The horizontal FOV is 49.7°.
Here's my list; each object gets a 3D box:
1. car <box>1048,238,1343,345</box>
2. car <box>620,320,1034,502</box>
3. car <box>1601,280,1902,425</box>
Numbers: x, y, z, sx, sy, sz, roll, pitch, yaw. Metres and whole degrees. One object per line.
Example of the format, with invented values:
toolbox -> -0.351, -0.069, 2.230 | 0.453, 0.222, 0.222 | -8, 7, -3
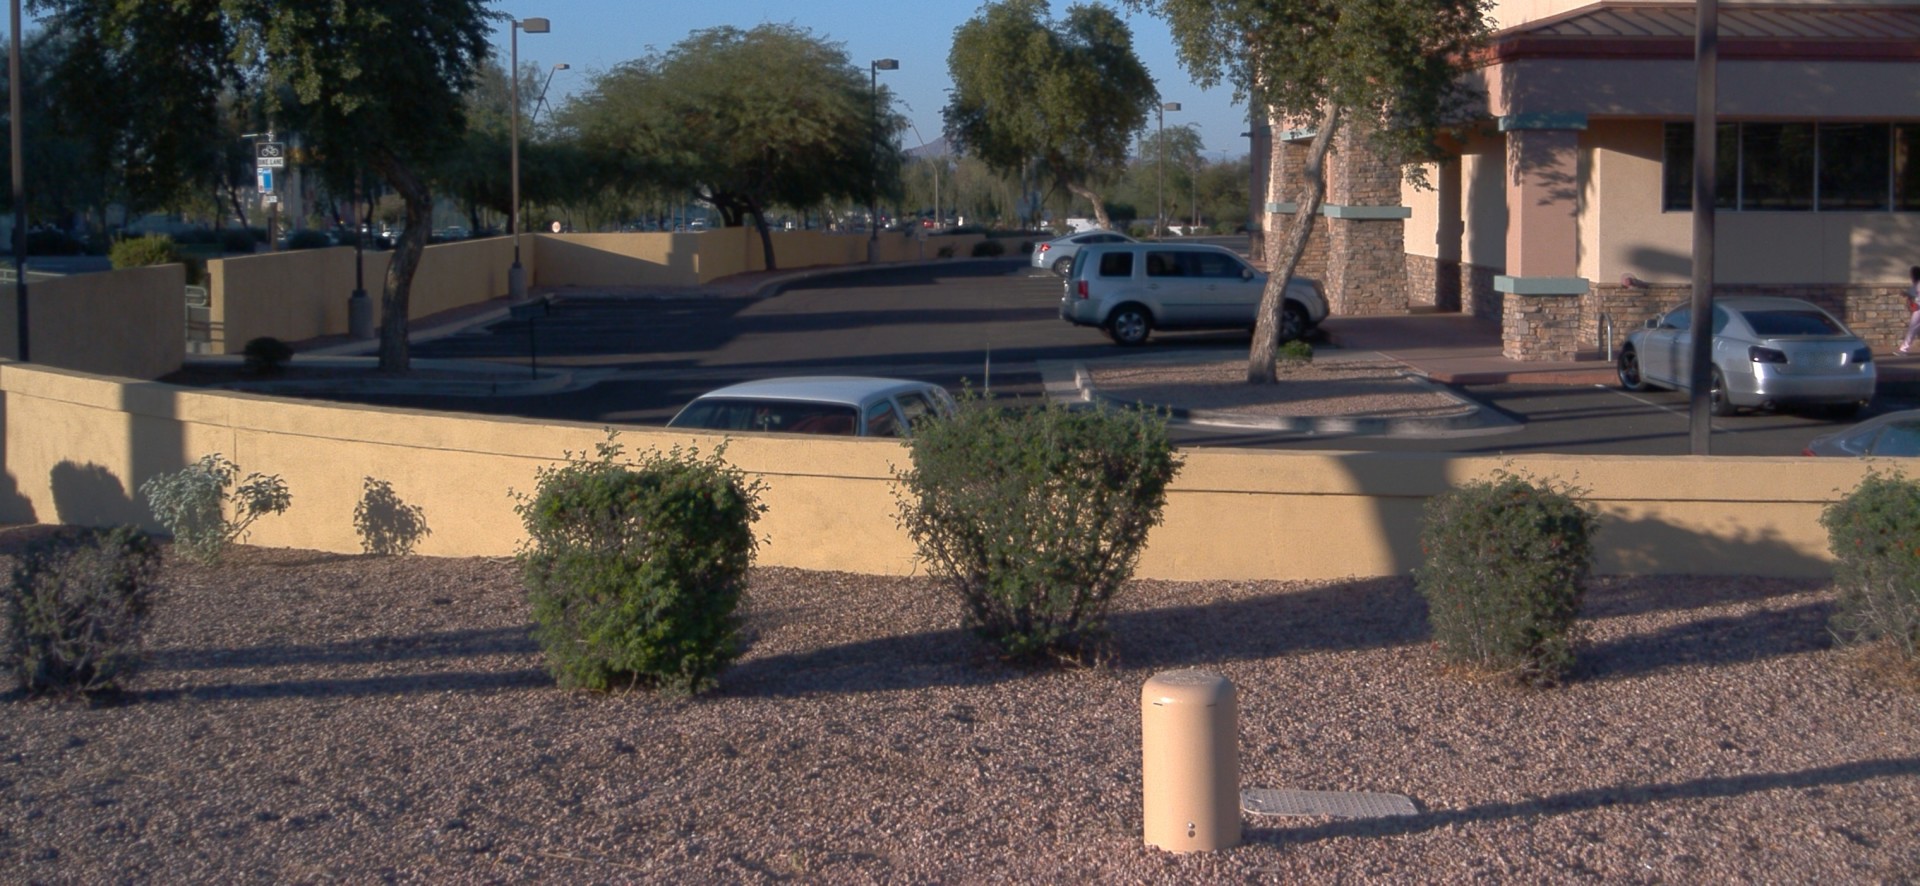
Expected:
car -> 4.188, -2.768, 37.421 | 4.990, 1.846, 2.165 | -1, 4, -6
car -> -0.931, -0.353, 16.869 | 1.917, 1.095, 3.965 | 2, 6, 20
car -> 10.022, -1.252, 26.709 | 1.912, 1.573, 4.738 | 0, 5, -3
